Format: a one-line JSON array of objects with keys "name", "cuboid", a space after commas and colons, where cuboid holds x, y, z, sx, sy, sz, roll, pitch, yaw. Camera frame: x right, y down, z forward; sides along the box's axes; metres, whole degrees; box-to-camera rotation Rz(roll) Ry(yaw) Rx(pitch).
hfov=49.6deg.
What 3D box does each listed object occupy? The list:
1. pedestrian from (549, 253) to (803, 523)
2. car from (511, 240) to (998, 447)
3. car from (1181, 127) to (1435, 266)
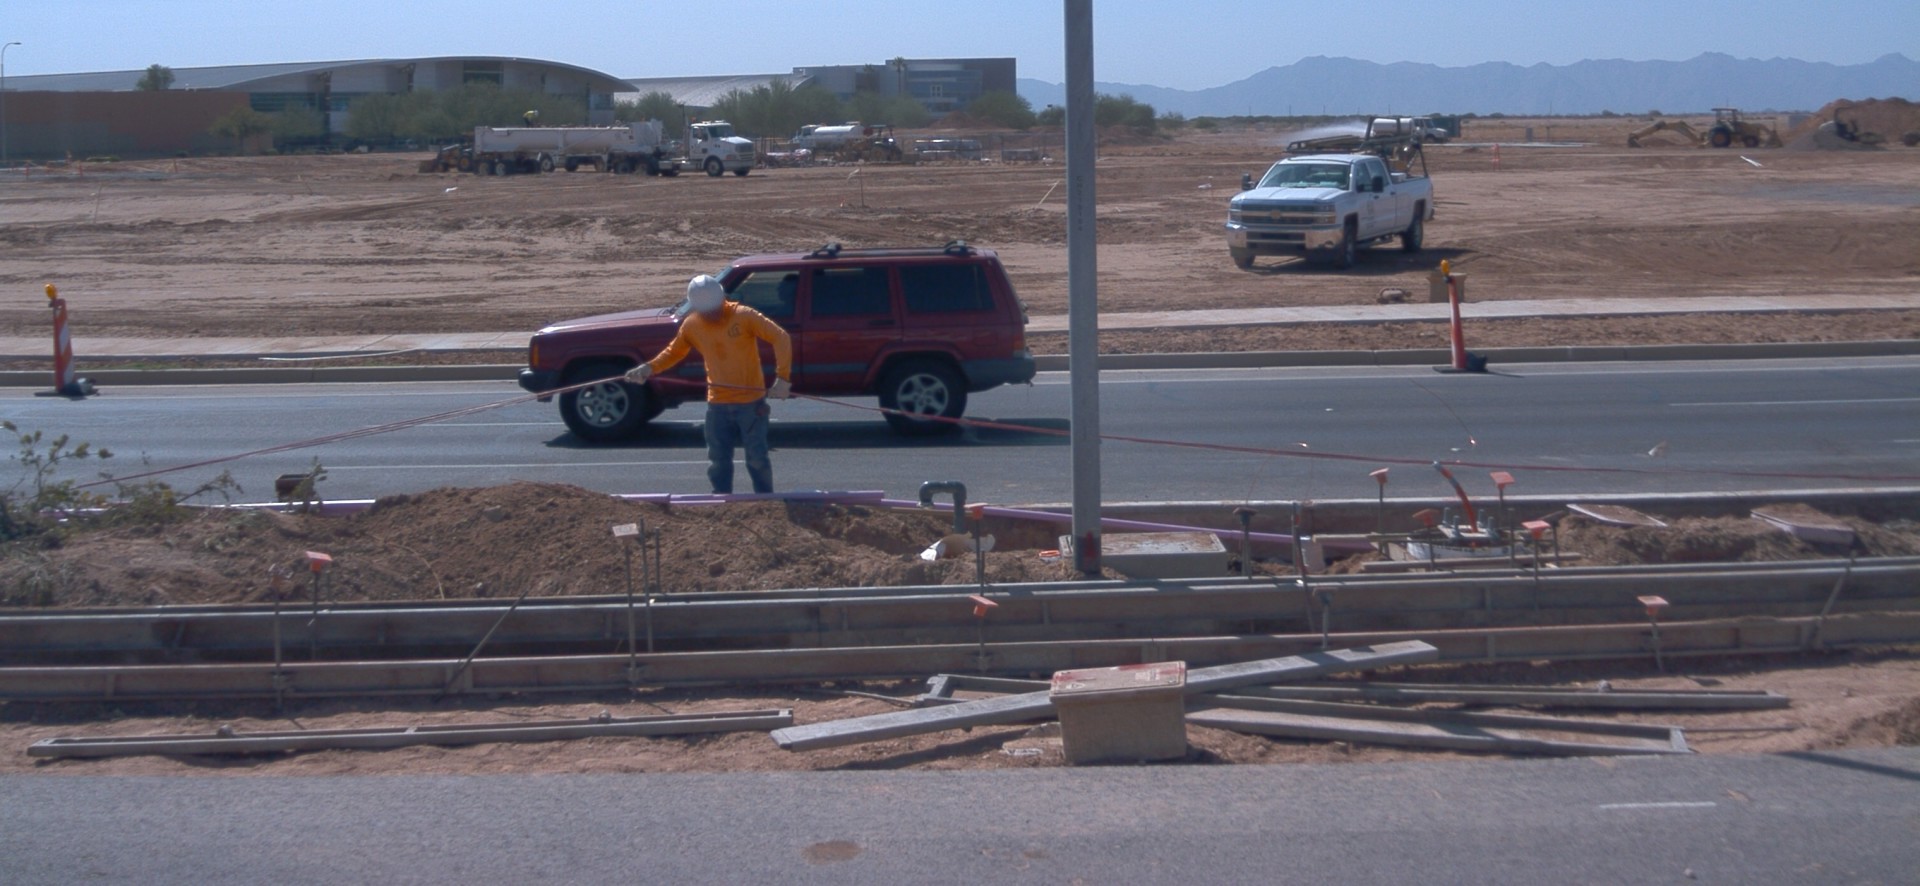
[{"name": "pedestrian", "cuboid": [-1.804, -0.395, 13.303, 1.312, 1.627, 0.919, 1, 2, 21]}, {"name": "car", "cuboid": [-1.779, -0.953, 18.967, 4.211, 1.735, 1.915, 0, 4, -1]}, {"name": "car", "cuboid": [6.561, -4.514, 38.249, 2.579, 2.299, 6.904, 2, 6, 28]}]
